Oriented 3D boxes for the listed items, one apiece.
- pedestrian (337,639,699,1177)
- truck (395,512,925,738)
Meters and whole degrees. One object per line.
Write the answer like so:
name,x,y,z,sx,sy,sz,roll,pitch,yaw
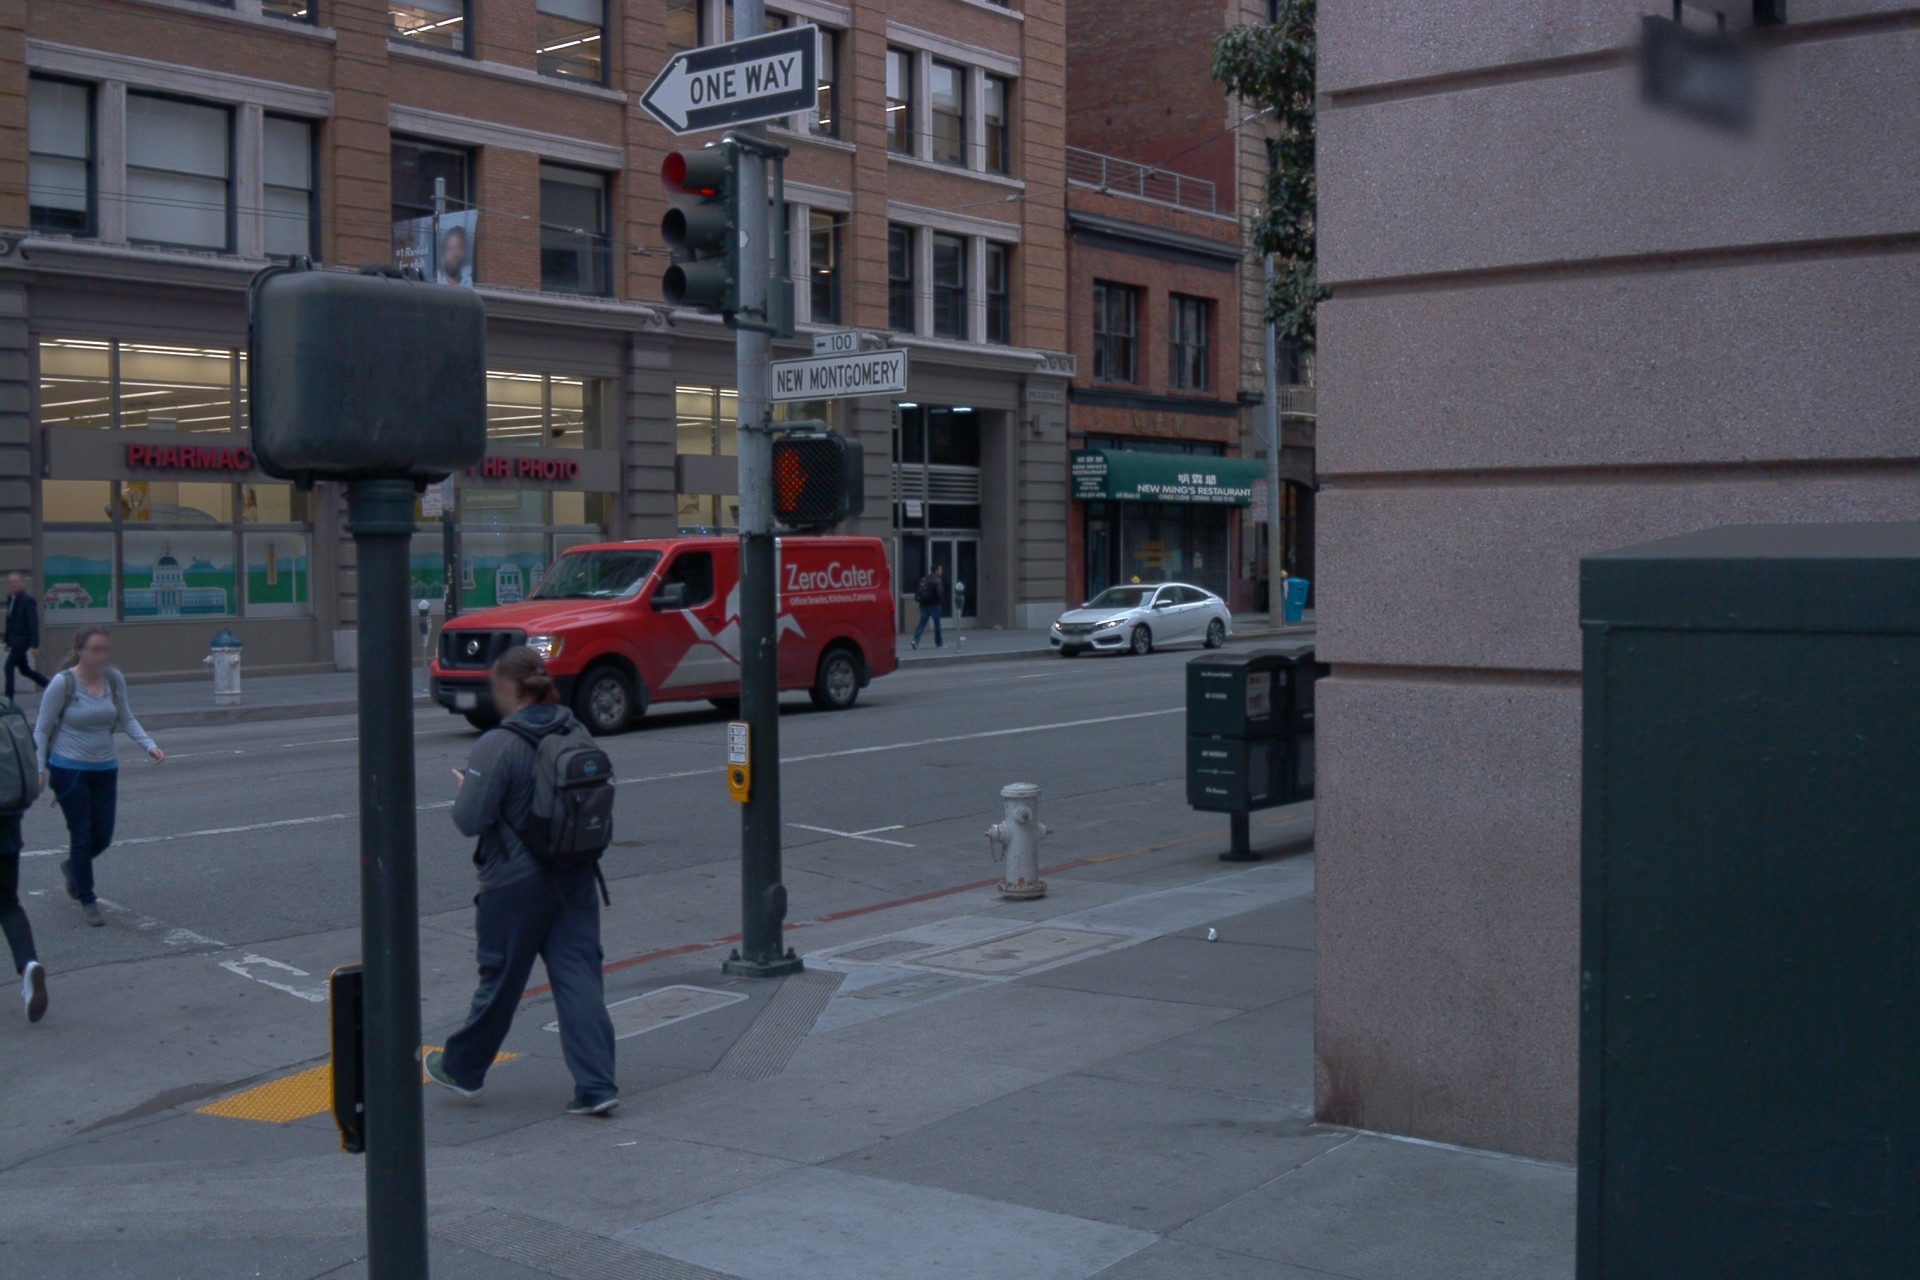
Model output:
pedestrian,-1.640,0.901,7.627,1.155,1.800,0.781,1,1,43
truck,-3.206,-0.180,23.556,2.356,2.240,6.072,0,1,37
